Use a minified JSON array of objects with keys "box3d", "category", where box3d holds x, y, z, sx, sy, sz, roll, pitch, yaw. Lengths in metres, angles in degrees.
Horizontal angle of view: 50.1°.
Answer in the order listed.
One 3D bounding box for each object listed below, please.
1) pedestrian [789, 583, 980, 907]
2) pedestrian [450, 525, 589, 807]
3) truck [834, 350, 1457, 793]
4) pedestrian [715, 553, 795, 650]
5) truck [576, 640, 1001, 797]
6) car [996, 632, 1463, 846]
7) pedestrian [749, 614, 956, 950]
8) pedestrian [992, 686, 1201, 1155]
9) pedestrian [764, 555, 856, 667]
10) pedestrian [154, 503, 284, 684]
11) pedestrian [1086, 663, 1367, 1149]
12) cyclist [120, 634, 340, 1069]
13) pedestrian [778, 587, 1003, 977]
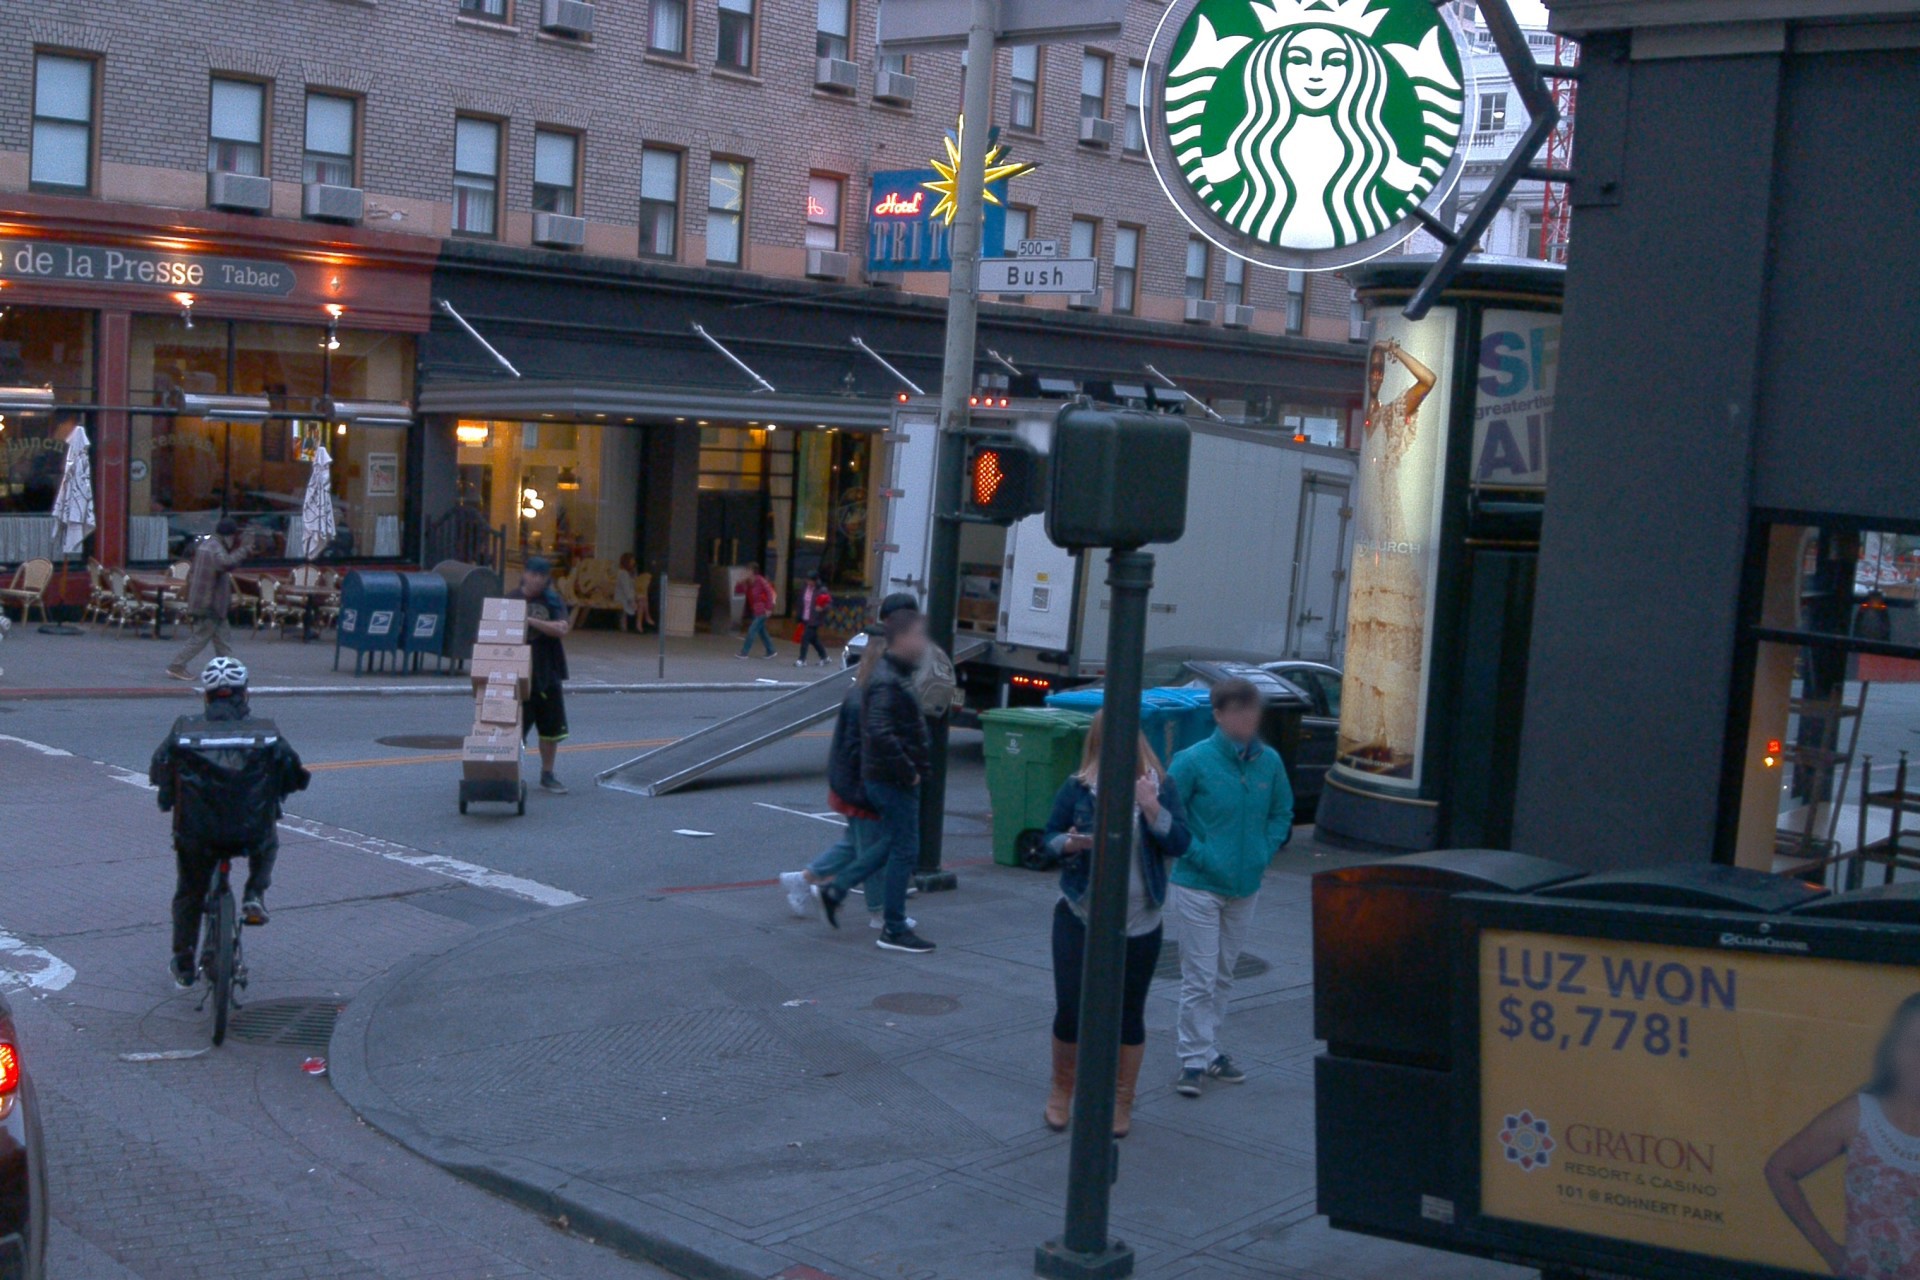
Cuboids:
[{"box3d":[-0.442,0.579,11.950,0.885,1.796,0.674,0,0,42],"category":"pedestrian"},{"box3d":[-3.334,0.184,15.665,0.975,2.060,1.135,0,0,-9],"category":"pedestrian"},{"box3d":[2.220,-0.633,21.512,2.893,3.840,7.201,0,1,40],"category":"truck"},{"box3d":[-3.080,-0.574,30.930,0.912,1.441,0.811,0,0,-36],"category":"pedestrian"},{"box3d":[-1.344,0.599,17.553,1.006,1.154,4.038,0,1,42],"category":"truck"},{"box3d":[2.442,0.734,17.719,1.948,1.570,4.382,0,1,40],"category":"car"},{"box3d":[-0.557,0.710,10.863,1.033,1.692,1.001,0,0,-1],"category":"pedestrian"},{"box3d":[0.519,0.967,7.510,0.681,1.570,0.898,0,0,9],"category":"pedestrian"},{"box3d":[-2.236,-0.432,30.572,1.031,1.631,0.911,0,0,-37],"category":"pedestrian"},{"box3d":[-8.117,-0.497,22.500,1.103,1.906,1.198,0,0,-32],"category":"pedestrian"},{"box3d":[1.004,0.964,8.006,0.782,1.721,1.100,0,0,-10],"category":"pedestrian"},{"box3d":[-3.417,0.869,9.516,0.831,1.780,1.890,0,0,-23],"category":"cyclist"},{"box3d":[-0.329,0.672,10.189,1.064,1.851,0.843,0,0,0],"category":"pedestrian"}]
